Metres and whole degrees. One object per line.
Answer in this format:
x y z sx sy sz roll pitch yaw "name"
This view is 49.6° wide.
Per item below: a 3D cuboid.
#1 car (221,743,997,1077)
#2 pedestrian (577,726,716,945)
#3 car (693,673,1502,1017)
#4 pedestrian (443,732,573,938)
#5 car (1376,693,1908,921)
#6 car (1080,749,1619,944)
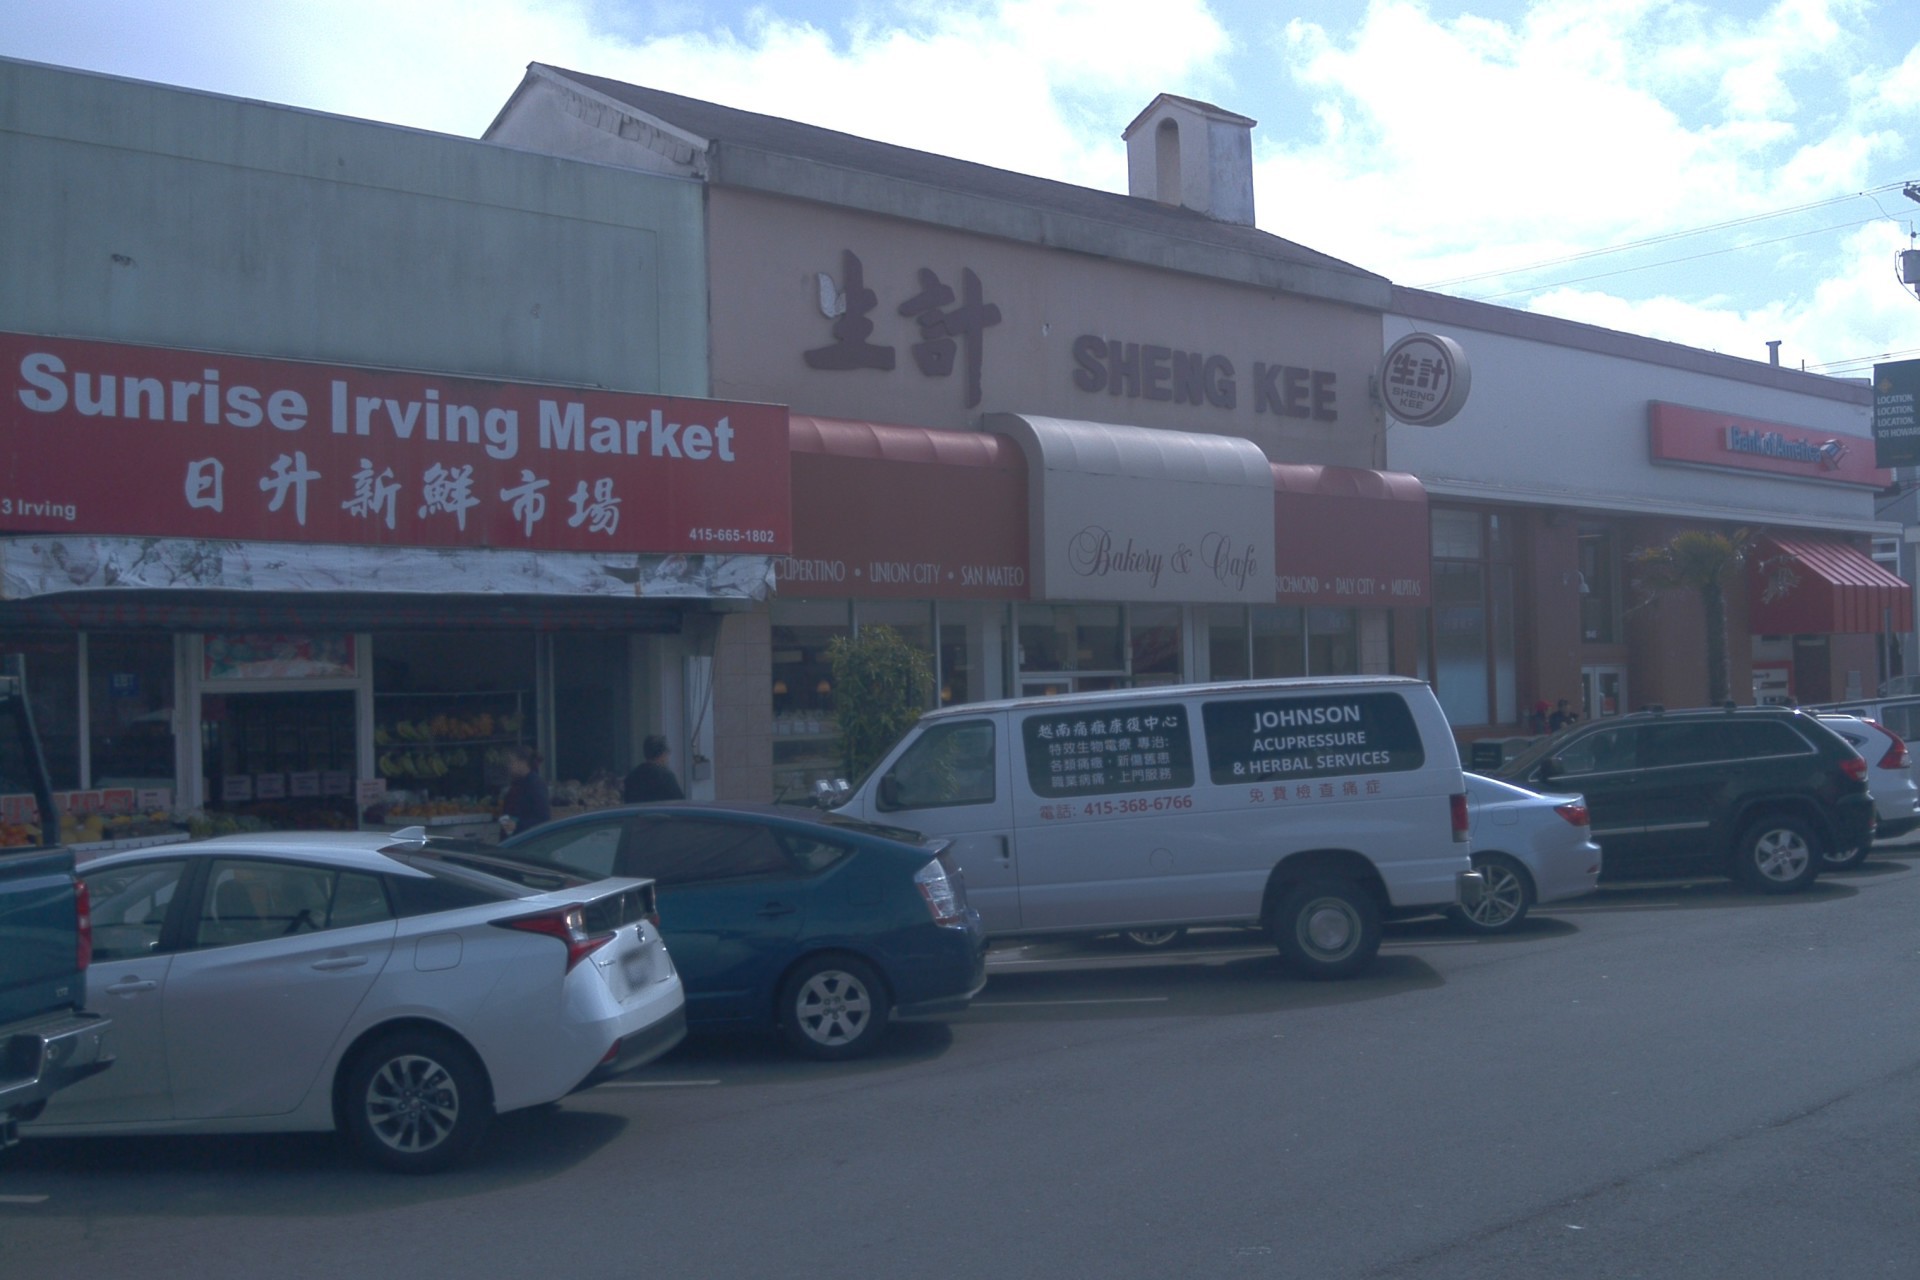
-1.905 1.527 12.406 4.223 1.720 2.045 0 0 1 "car"
-2.622 1.600 17.361 0.787 1.709 0.893 0 0 -41 "pedestrian"
0.991 1.378 15.136 5.387 2.234 2.514 0 0 3 "car"
-3.757 1.592 17.299 0.780 1.612 0.747 0 0 -44 "pedestrian"
6.387 1.530 20.036 4.608 1.970 2.237 0 0 8 "car"
3.181 1.692 17.573 4.252 1.420 2.017 0 0 4 "car"
